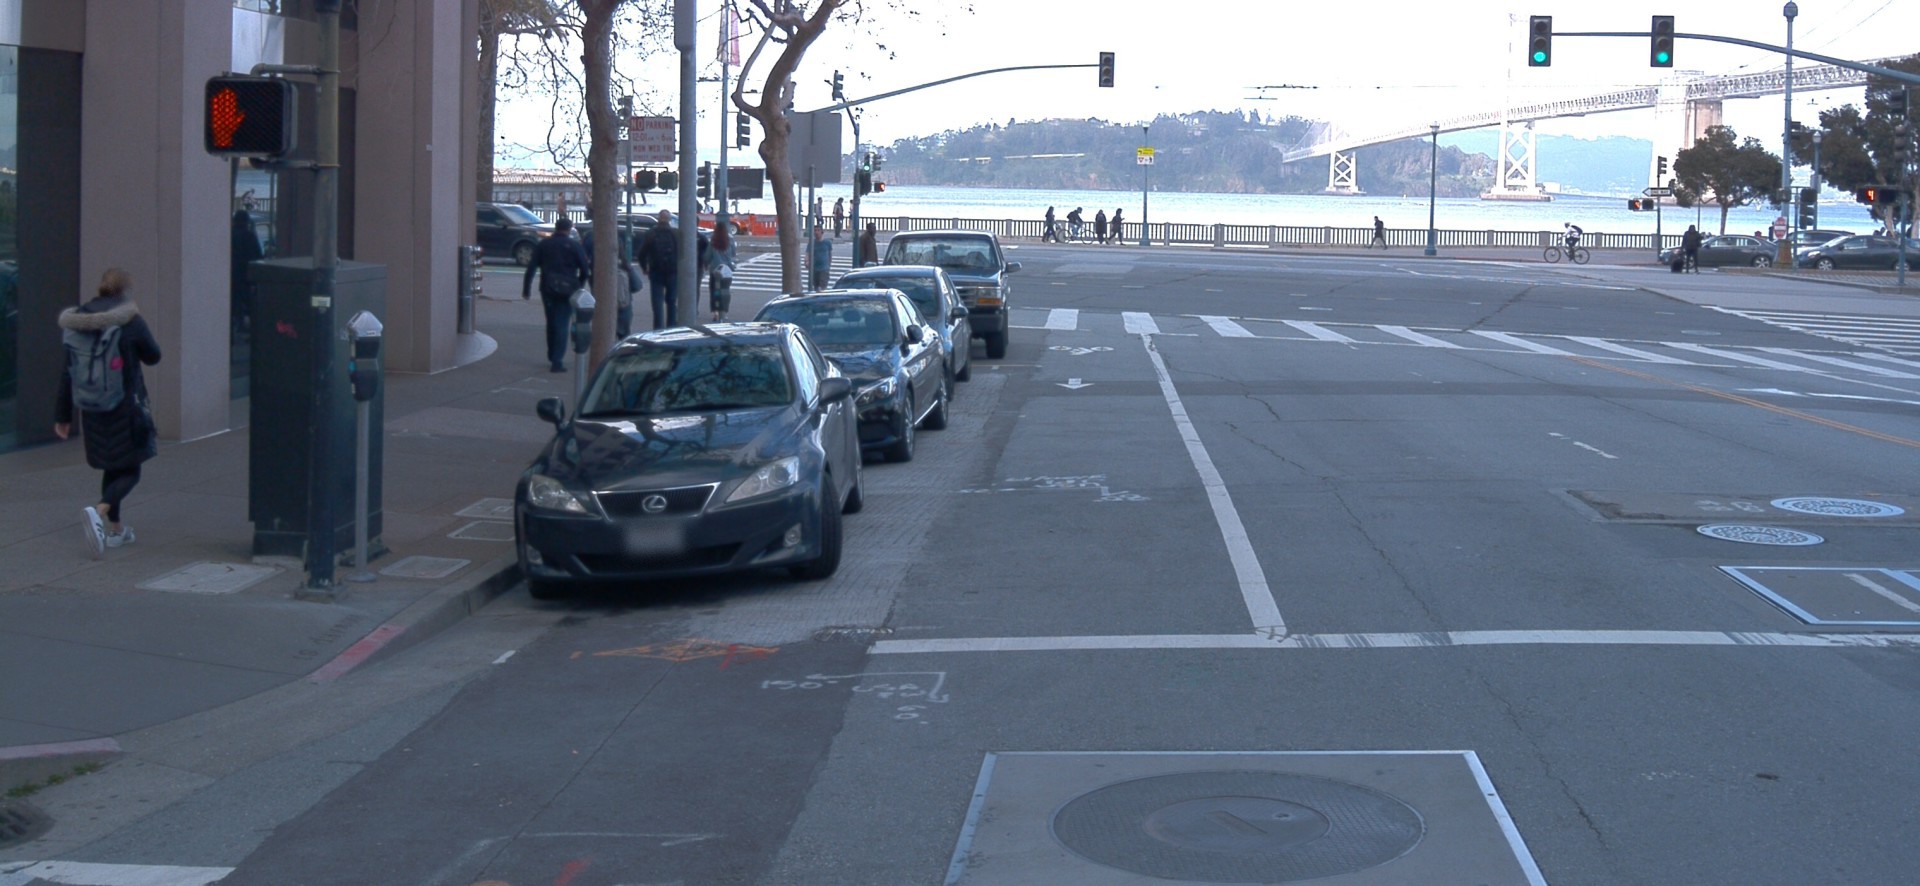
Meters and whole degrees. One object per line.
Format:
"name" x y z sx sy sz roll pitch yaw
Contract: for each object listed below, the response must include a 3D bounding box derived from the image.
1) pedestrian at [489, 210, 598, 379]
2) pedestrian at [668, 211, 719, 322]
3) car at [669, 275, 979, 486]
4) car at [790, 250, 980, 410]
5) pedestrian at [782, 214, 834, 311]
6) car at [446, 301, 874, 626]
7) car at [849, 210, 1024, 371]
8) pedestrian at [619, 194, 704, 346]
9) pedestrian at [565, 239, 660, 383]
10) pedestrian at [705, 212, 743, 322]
"pedestrian" -4.744 -1.722 23.477 0.961 1.865 1.349 0 3 0
"pedestrian" -4.529 -3.022 34.972 0.842 1.855 0.774 0 2 -7
"car" -1.102 -0.710 19.195 2.122 1.531 4.772 1 6 6
"car" -0.807 -1.440 24.665 1.889 1.641 4.066 0 6 3
"pedestrian" -2.883 -3.444 39.114 0.961 1.825 0.845 0 2 -3
"car" -1.708 -0.053 13.395 2.078 1.501 4.783 0 6 0
"car" -0.255 -2.433 31.442 2.438 2.218 4.887 0 6 2
"pedestrian" -4.092 -2.402 28.242 1.012 2.044 1.356 0 3 -3
"pedestrian" -3.945 -1.522 23.377 0.873 1.586 1.034 0 3 1
"pedestrian" -4.015 -3.004 34.966 0.629 1.836 0.602 0 2 -8
